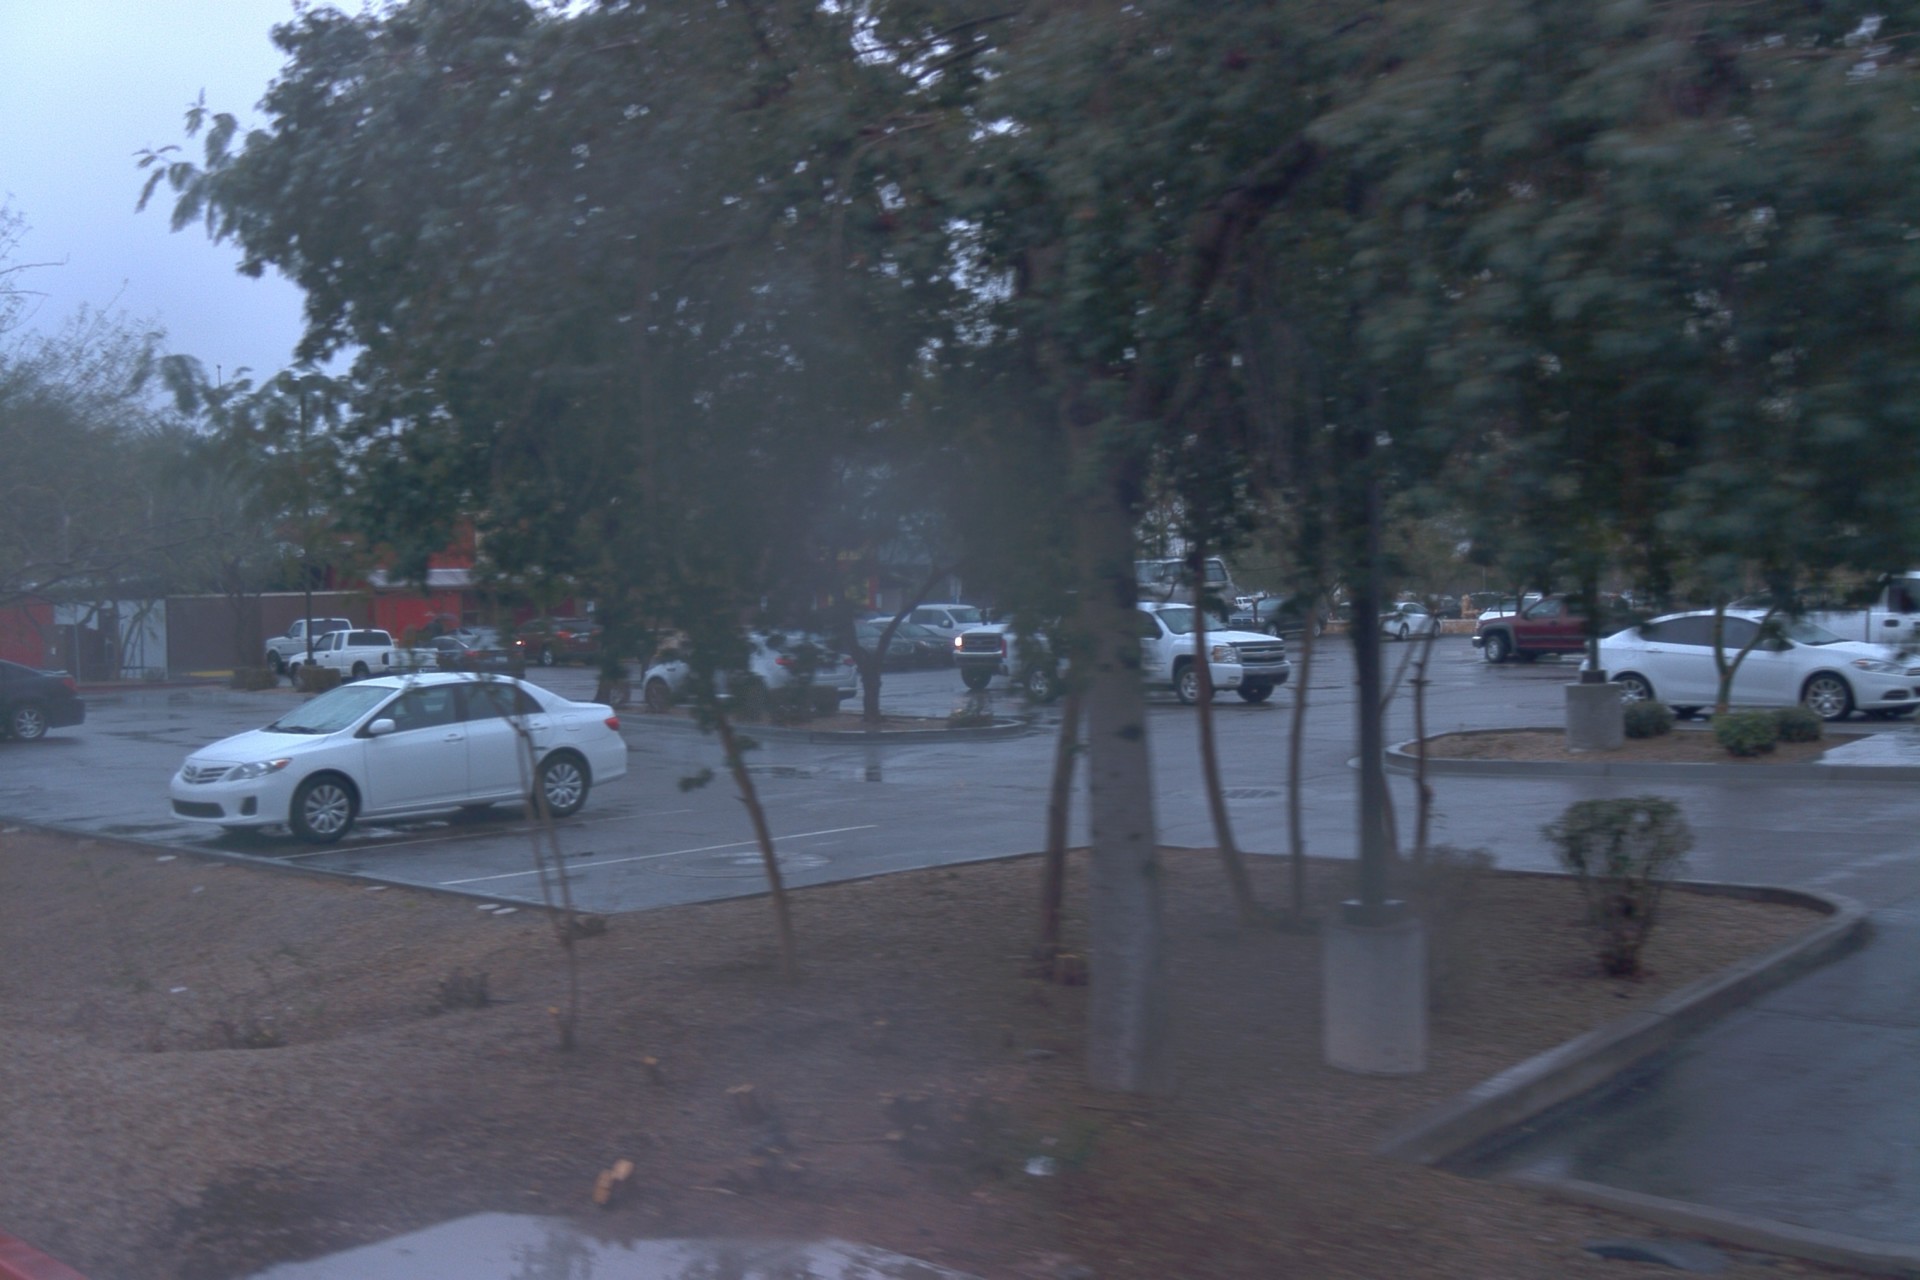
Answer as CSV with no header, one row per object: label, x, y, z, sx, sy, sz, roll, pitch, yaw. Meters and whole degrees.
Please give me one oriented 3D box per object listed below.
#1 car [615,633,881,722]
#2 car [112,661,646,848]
car,-3.971,0.666,38.407,4.971,1.540,2.186,0,-1,44
car,-5.601,1.022,20.482,2.215,1.620,4.562,0,-1,44
